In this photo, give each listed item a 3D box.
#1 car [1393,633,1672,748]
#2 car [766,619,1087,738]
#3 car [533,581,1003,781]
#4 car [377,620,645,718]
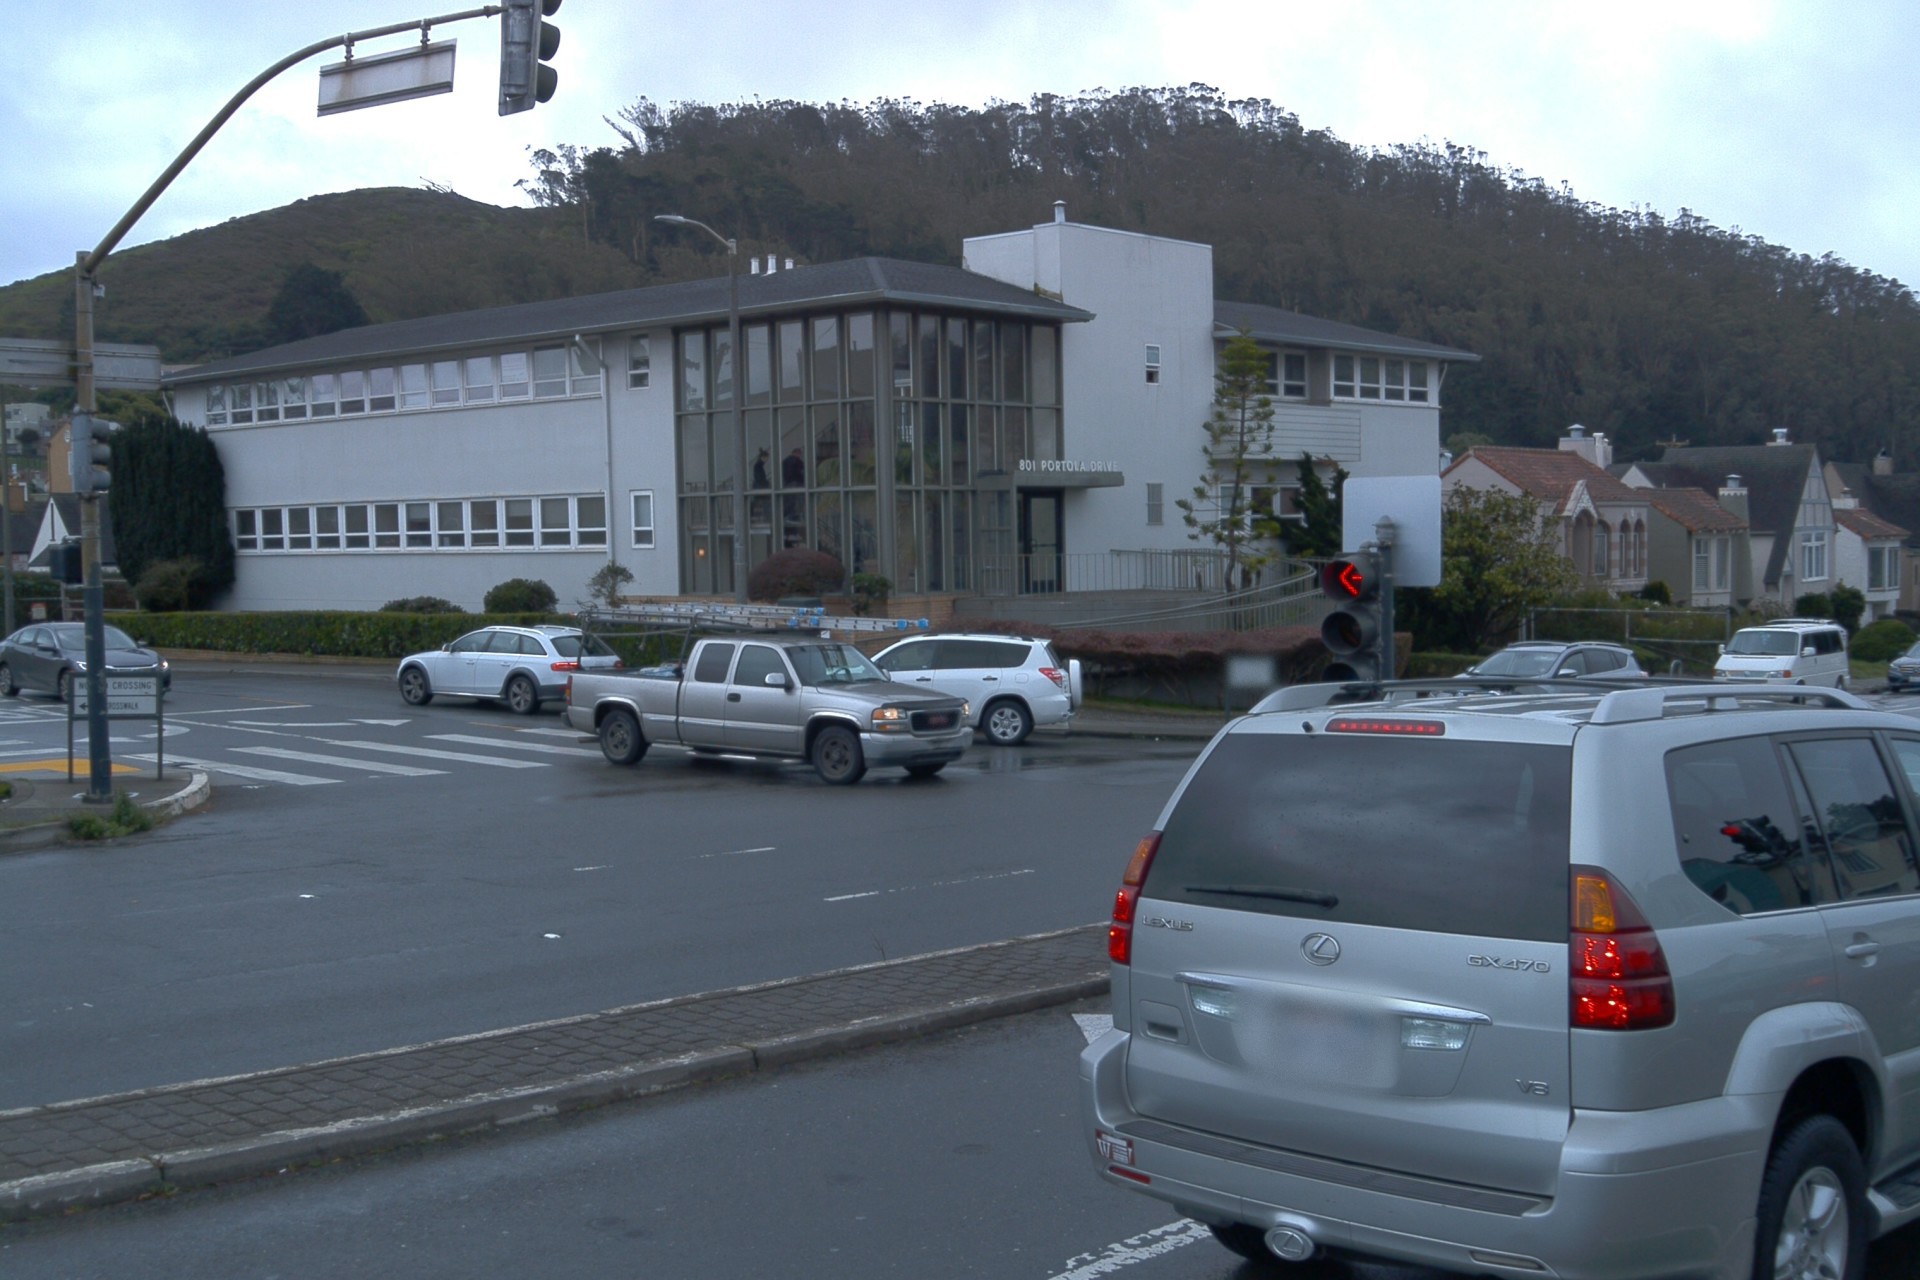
[{"bbox_3d":[9.469,0.763,33.739,4.665,1.740,2.196,0,1,-41],"label":"car"},{"bbox_3d":[-0.457,0.557,31.738,4.738,1.740,2.053,0,1,6],"label":"car"},{"bbox_3d":[-2.593,0.438,26.759,5.960,2.350,2.439,1,1,36],"label":"car"},{"bbox_3d":[-7.981,0.467,36.288,4.648,1.610,2.070,1,1,36],"label":"car"}]
